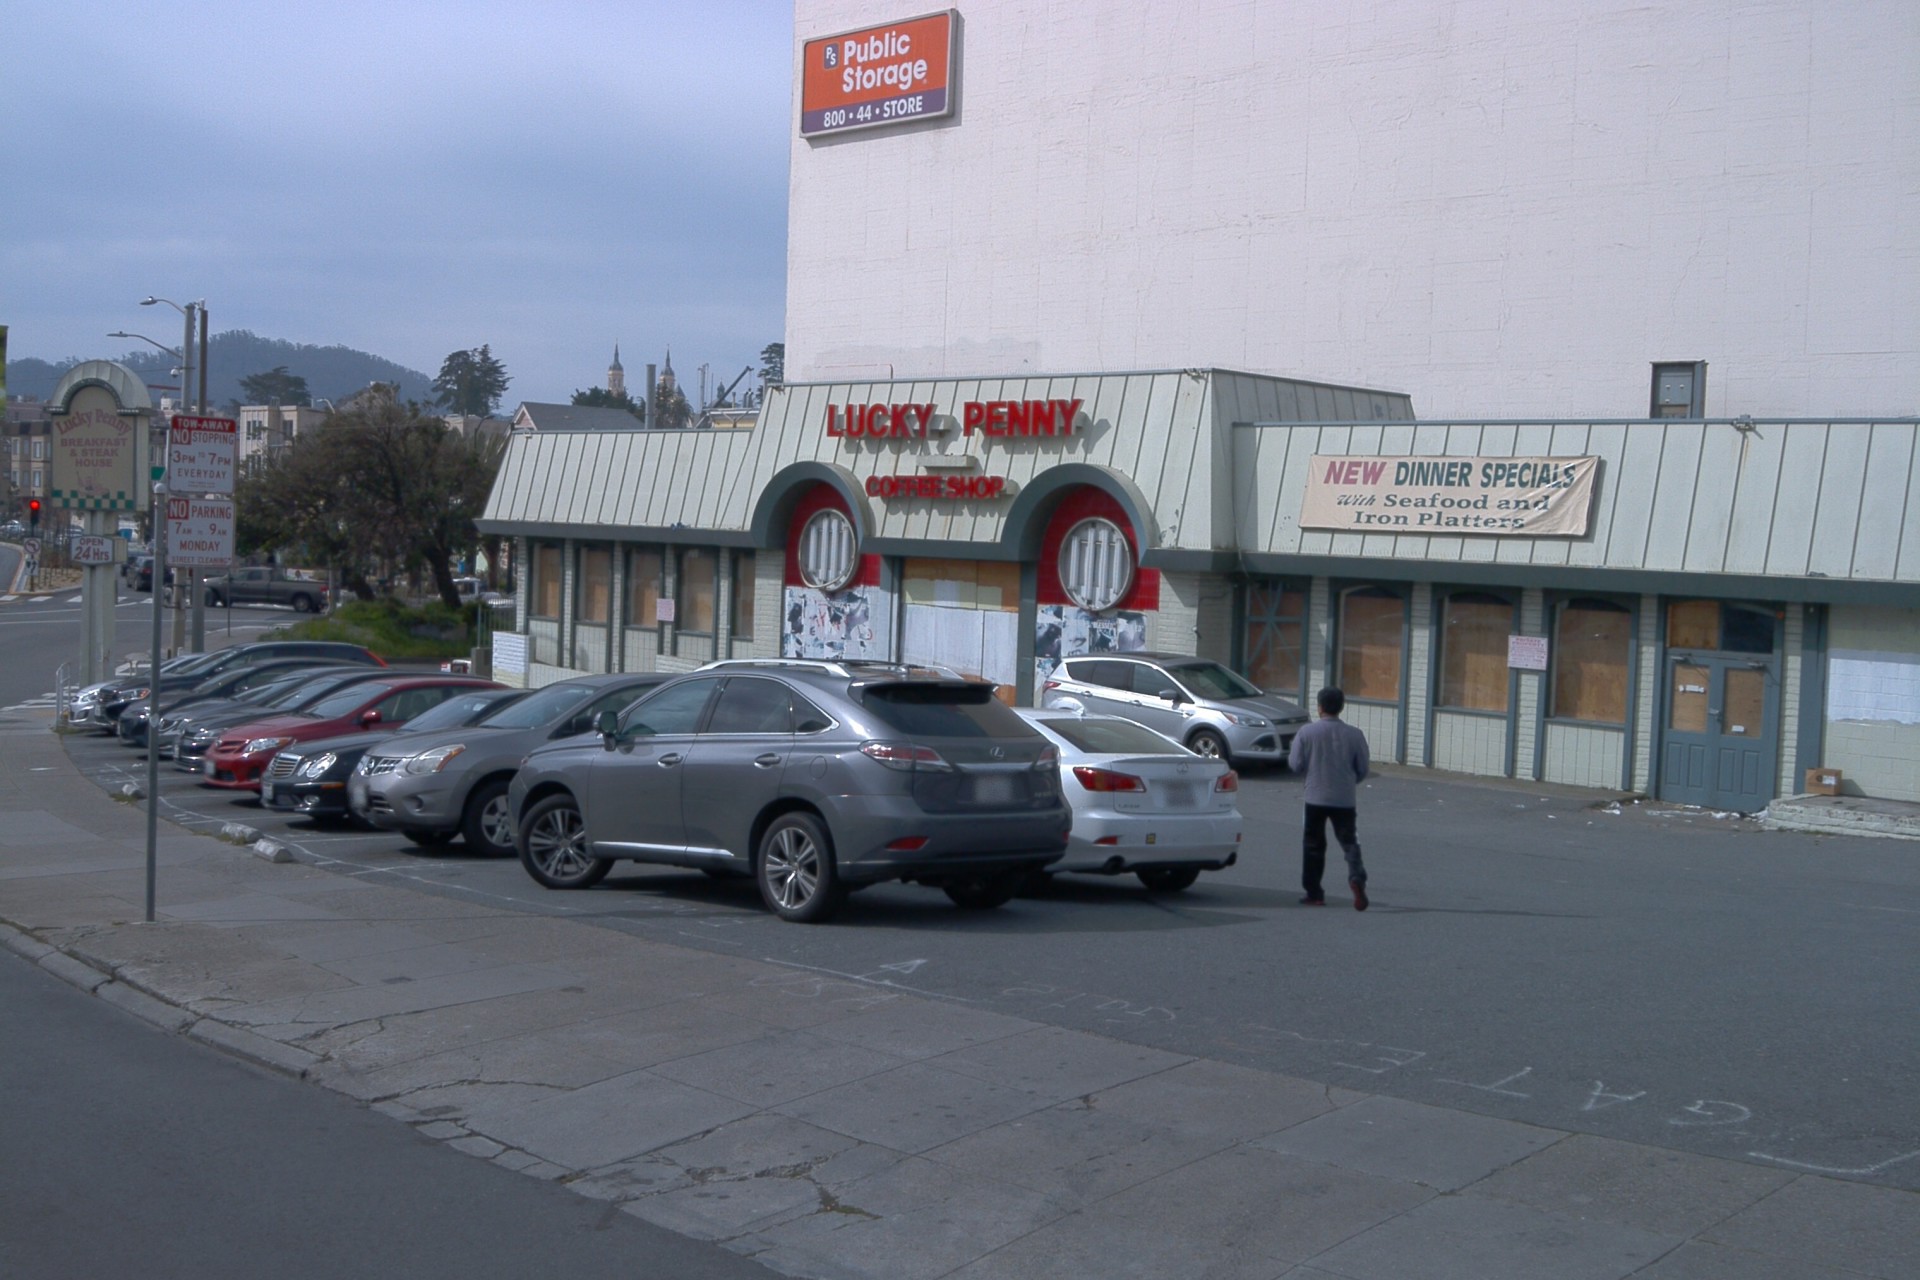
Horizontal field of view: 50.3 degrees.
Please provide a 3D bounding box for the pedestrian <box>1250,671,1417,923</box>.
[{"bbox_3d":[2.698,1.114,14.900,0.943,1.744,1.076,1,0,-4],"label":"pedestrian"}]

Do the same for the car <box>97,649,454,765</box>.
[{"bbox_3d":[-10.337,0.952,31.104,4.651,1.610,2.192,0,0,-43],"label":"car"}]

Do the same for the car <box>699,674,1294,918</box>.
[{"bbox_3d":[0.159,1.130,16.691,2.088,1.580,4.738,0,0,-44],"label":"car"}]

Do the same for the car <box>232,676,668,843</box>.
[{"bbox_3d":[-5.264,1.166,21.426,4.029,1.500,1.869,0,0,-45],"label":"car"}]

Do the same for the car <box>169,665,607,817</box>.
[{"bbox_3d":[-6.657,1.106,24.115,4.484,1.550,2.134,0,0,-44],"label":"car"}]

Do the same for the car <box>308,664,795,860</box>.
[{"bbox_3d":[-3.715,1.034,19.045,1.975,1.570,4.019,1,0,44],"label":"car"}]

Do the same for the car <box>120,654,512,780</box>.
[{"bbox_3d":[-8.982,1.005,28.781,4.736,1.590,2.241,0,0,-44],"label":"car"}]

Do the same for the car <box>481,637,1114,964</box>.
[{"bbox_3d":[-1.292,0.966,14.599,2.065,1.920,4.493,0,0,-45],"label":"car"}]

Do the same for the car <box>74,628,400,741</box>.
[{"bbox_3d":[-11.717,0.682,33.335,4.561,1.710,2.059,0,0,-43],"label":"car"}]

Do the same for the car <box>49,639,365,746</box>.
[{"bbox_3d":[-13.134,0.870,35.853,4.757,1.740,2.072,0,0,-43],"label":"car"}]

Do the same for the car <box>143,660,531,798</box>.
[{"bbox_3d":[-7.973,1.073,26.409,4.343,1.580,1.994,0,0,-43],"label":"car"}]

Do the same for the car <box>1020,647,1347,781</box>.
[{"bbox_3d":[3.289,1.036,30.718,2.134,1.790,4.557,0,0,-44],"label":"car"}]
